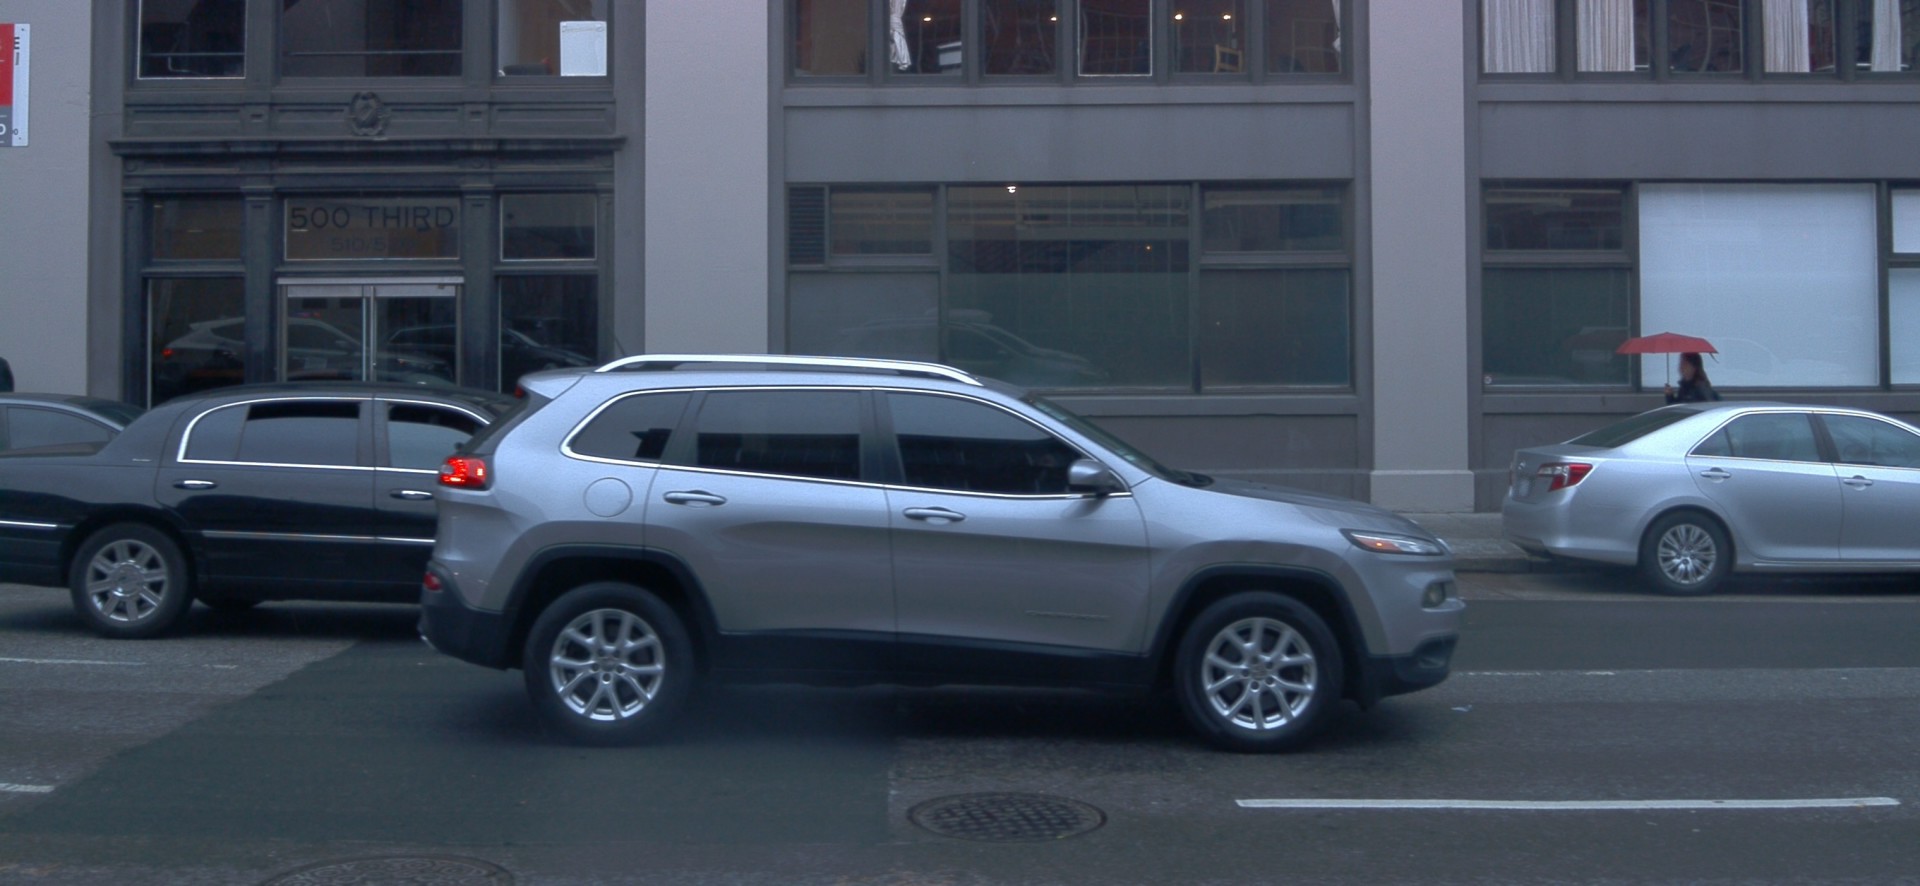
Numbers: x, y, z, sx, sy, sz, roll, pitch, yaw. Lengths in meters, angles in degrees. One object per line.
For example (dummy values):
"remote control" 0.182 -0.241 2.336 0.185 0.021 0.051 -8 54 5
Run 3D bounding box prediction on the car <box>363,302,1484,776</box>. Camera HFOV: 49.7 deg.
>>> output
"car" -0.147 0.325 9.665 4.629 1.867 2.186 0 3 0

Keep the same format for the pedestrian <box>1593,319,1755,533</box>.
"pedestrian" 6.692 -0.187 19.505 1.141 1.899 1.142 0 2 1
